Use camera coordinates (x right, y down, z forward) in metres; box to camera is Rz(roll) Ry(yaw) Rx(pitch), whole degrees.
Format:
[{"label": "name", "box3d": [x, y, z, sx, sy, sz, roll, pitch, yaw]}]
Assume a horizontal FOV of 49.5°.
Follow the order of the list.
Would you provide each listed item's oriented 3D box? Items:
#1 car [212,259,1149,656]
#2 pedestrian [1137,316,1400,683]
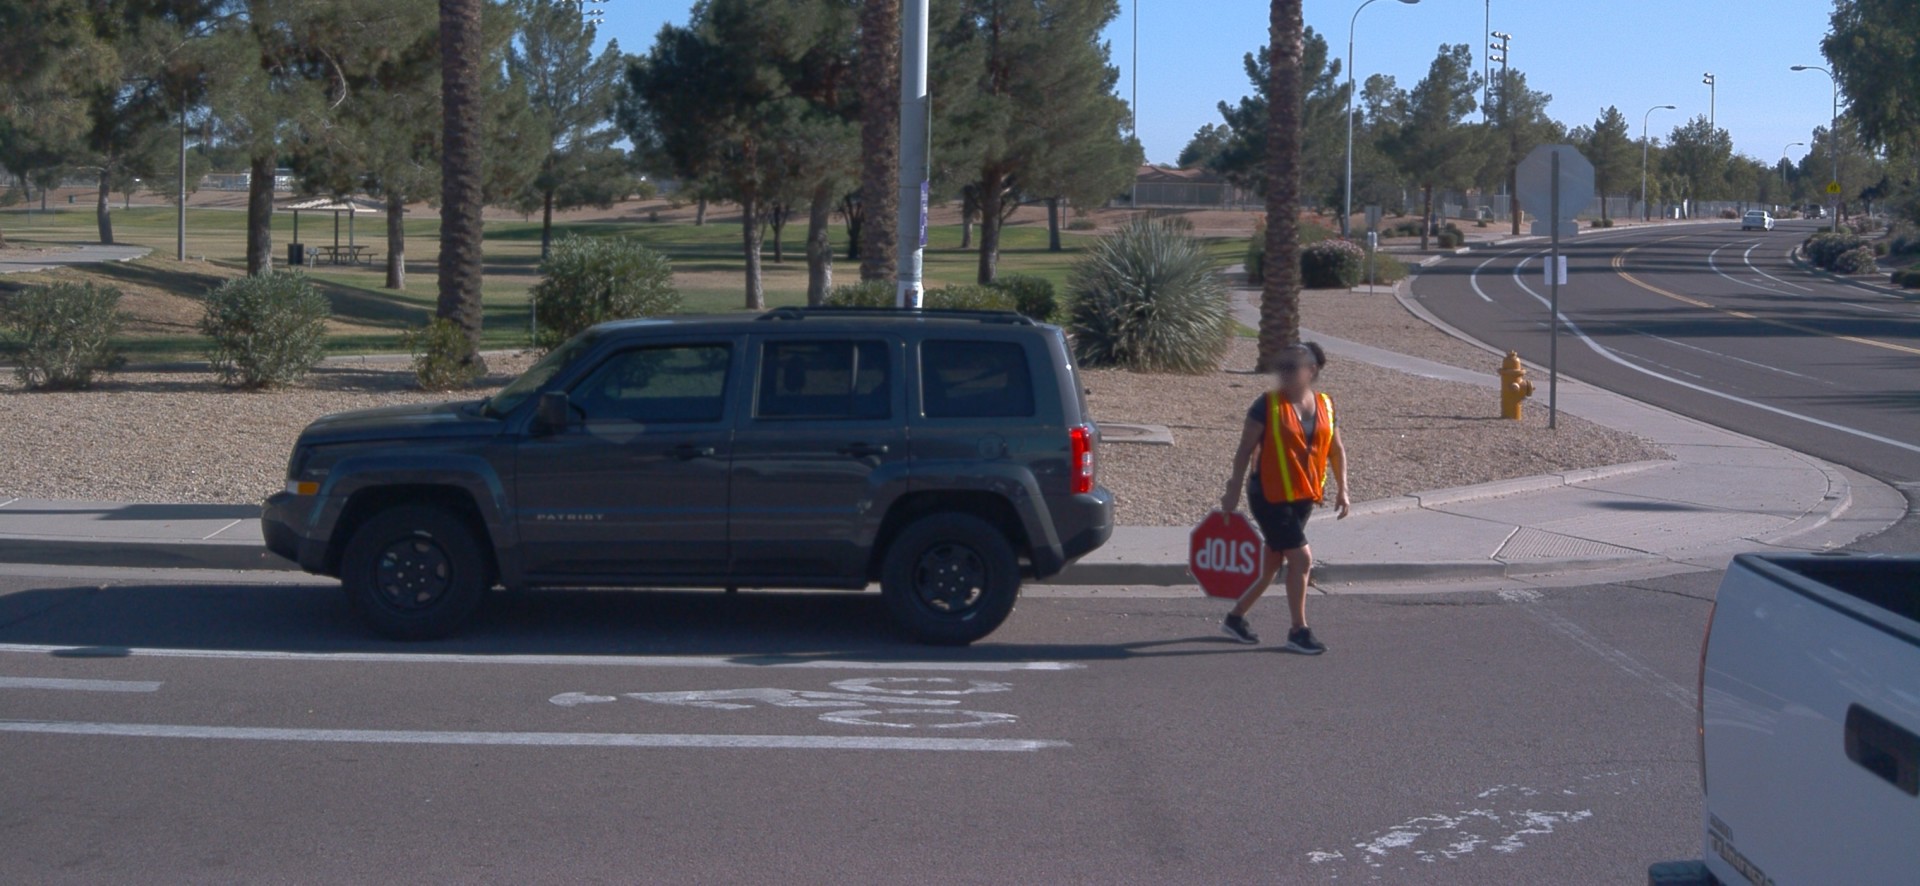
[{"label": "car", "box3d": [-1.380, -0.015, 11.196, 4.513, 1.844, 2.126, 0, 4, -4]}, {"label": "pedestrian", "box3d": [1.555, 0.233, 10.598, 0.959, 1.696, 0.937, 0, 3, -24]}]
